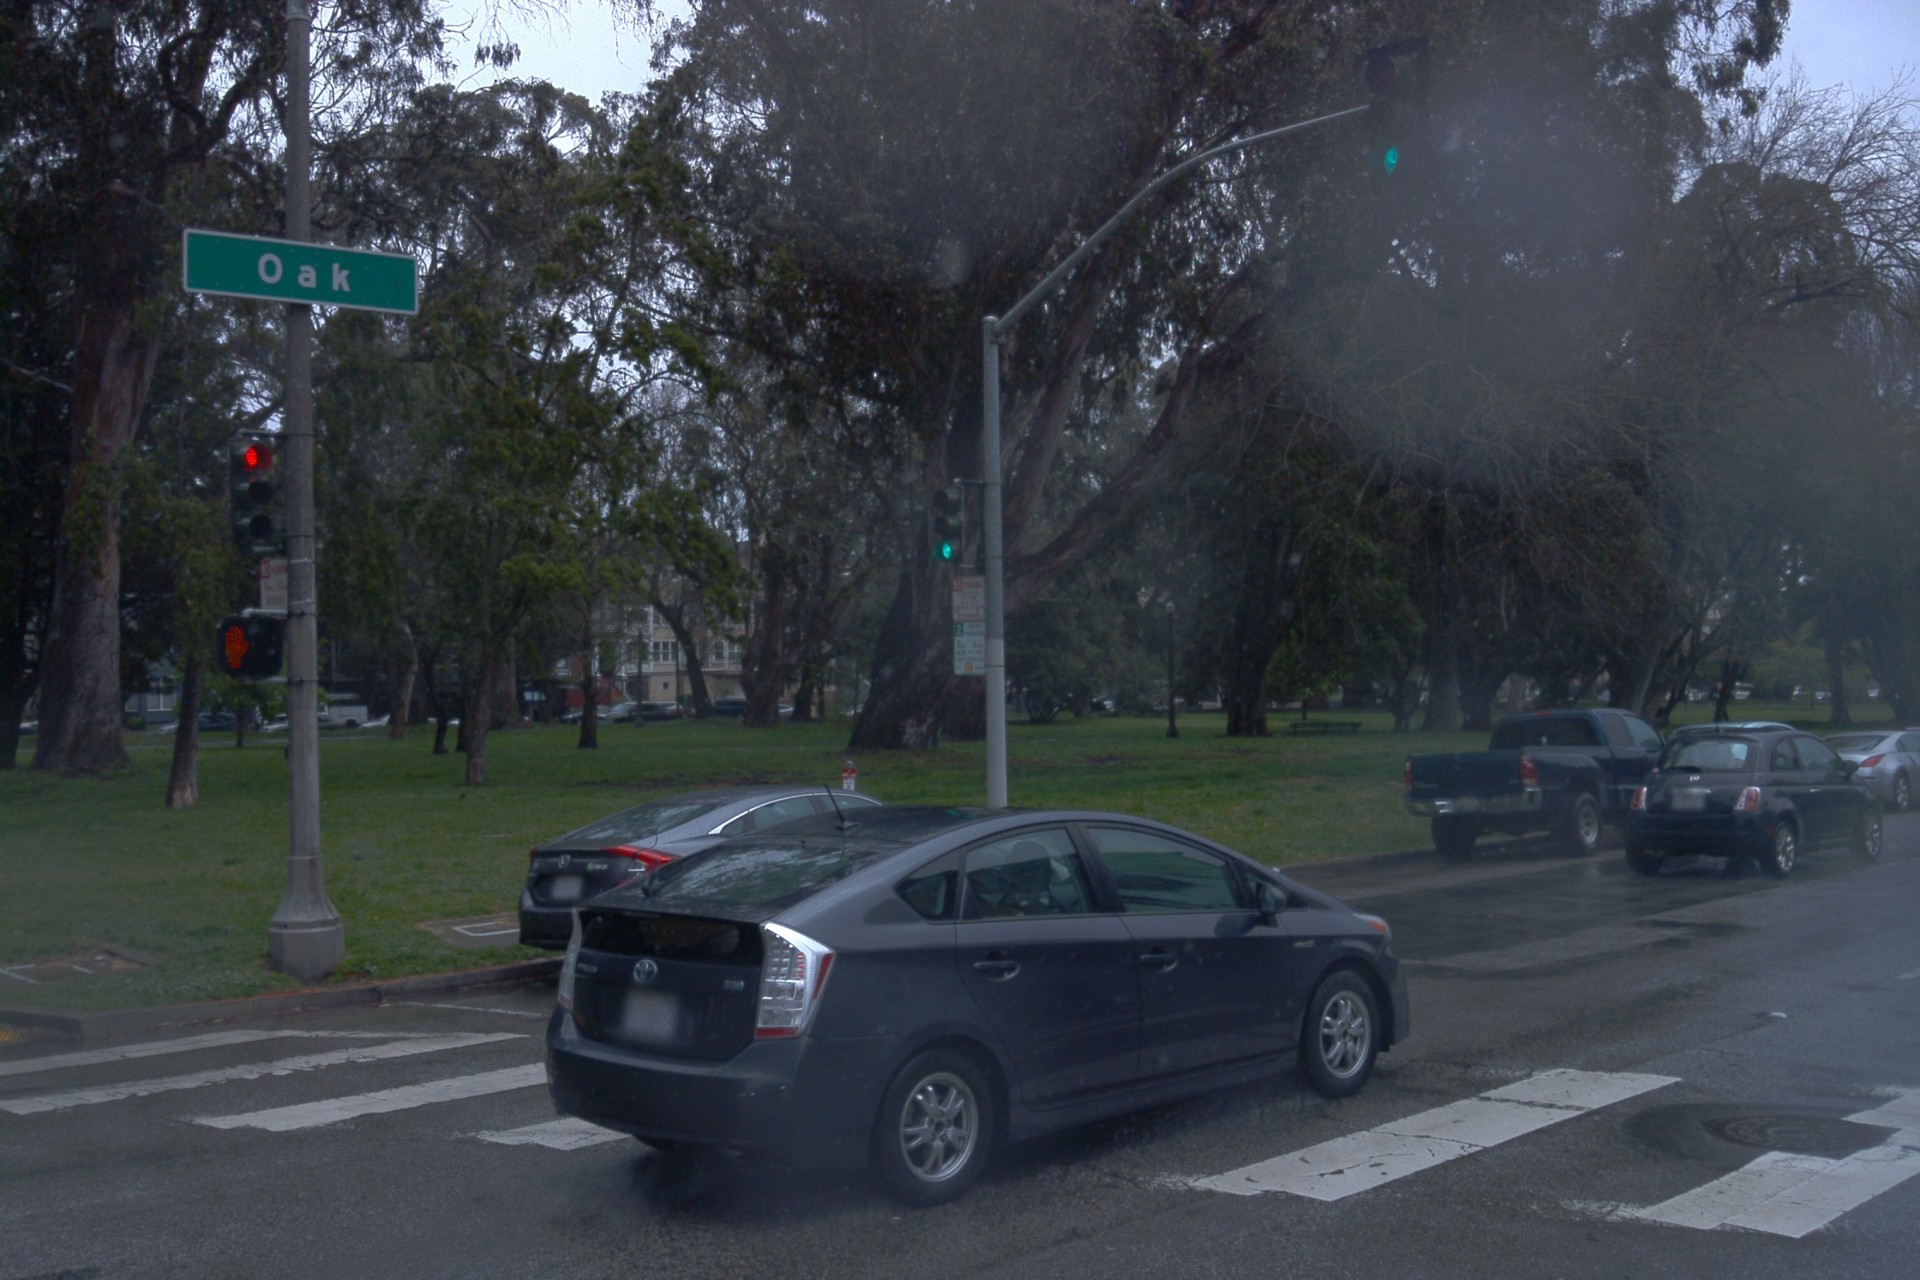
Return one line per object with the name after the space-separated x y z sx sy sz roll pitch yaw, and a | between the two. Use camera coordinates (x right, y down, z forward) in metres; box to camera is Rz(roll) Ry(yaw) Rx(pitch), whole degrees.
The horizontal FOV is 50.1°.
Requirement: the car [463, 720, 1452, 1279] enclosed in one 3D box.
0.193 1.321 9.243 4.362 1.670 1.894 -1 2 -44 | car

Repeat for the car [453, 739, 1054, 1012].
-1.494 1.718 16.319 2.031 1.540 4.554 1 2 42 | car

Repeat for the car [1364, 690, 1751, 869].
7.591 1.621 25.701 2.407 1.750 5.463 1 2 44 | car

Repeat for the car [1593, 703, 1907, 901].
8.351 1.610 21.568 1.794 1.715 3.581 1 2 44 | car
